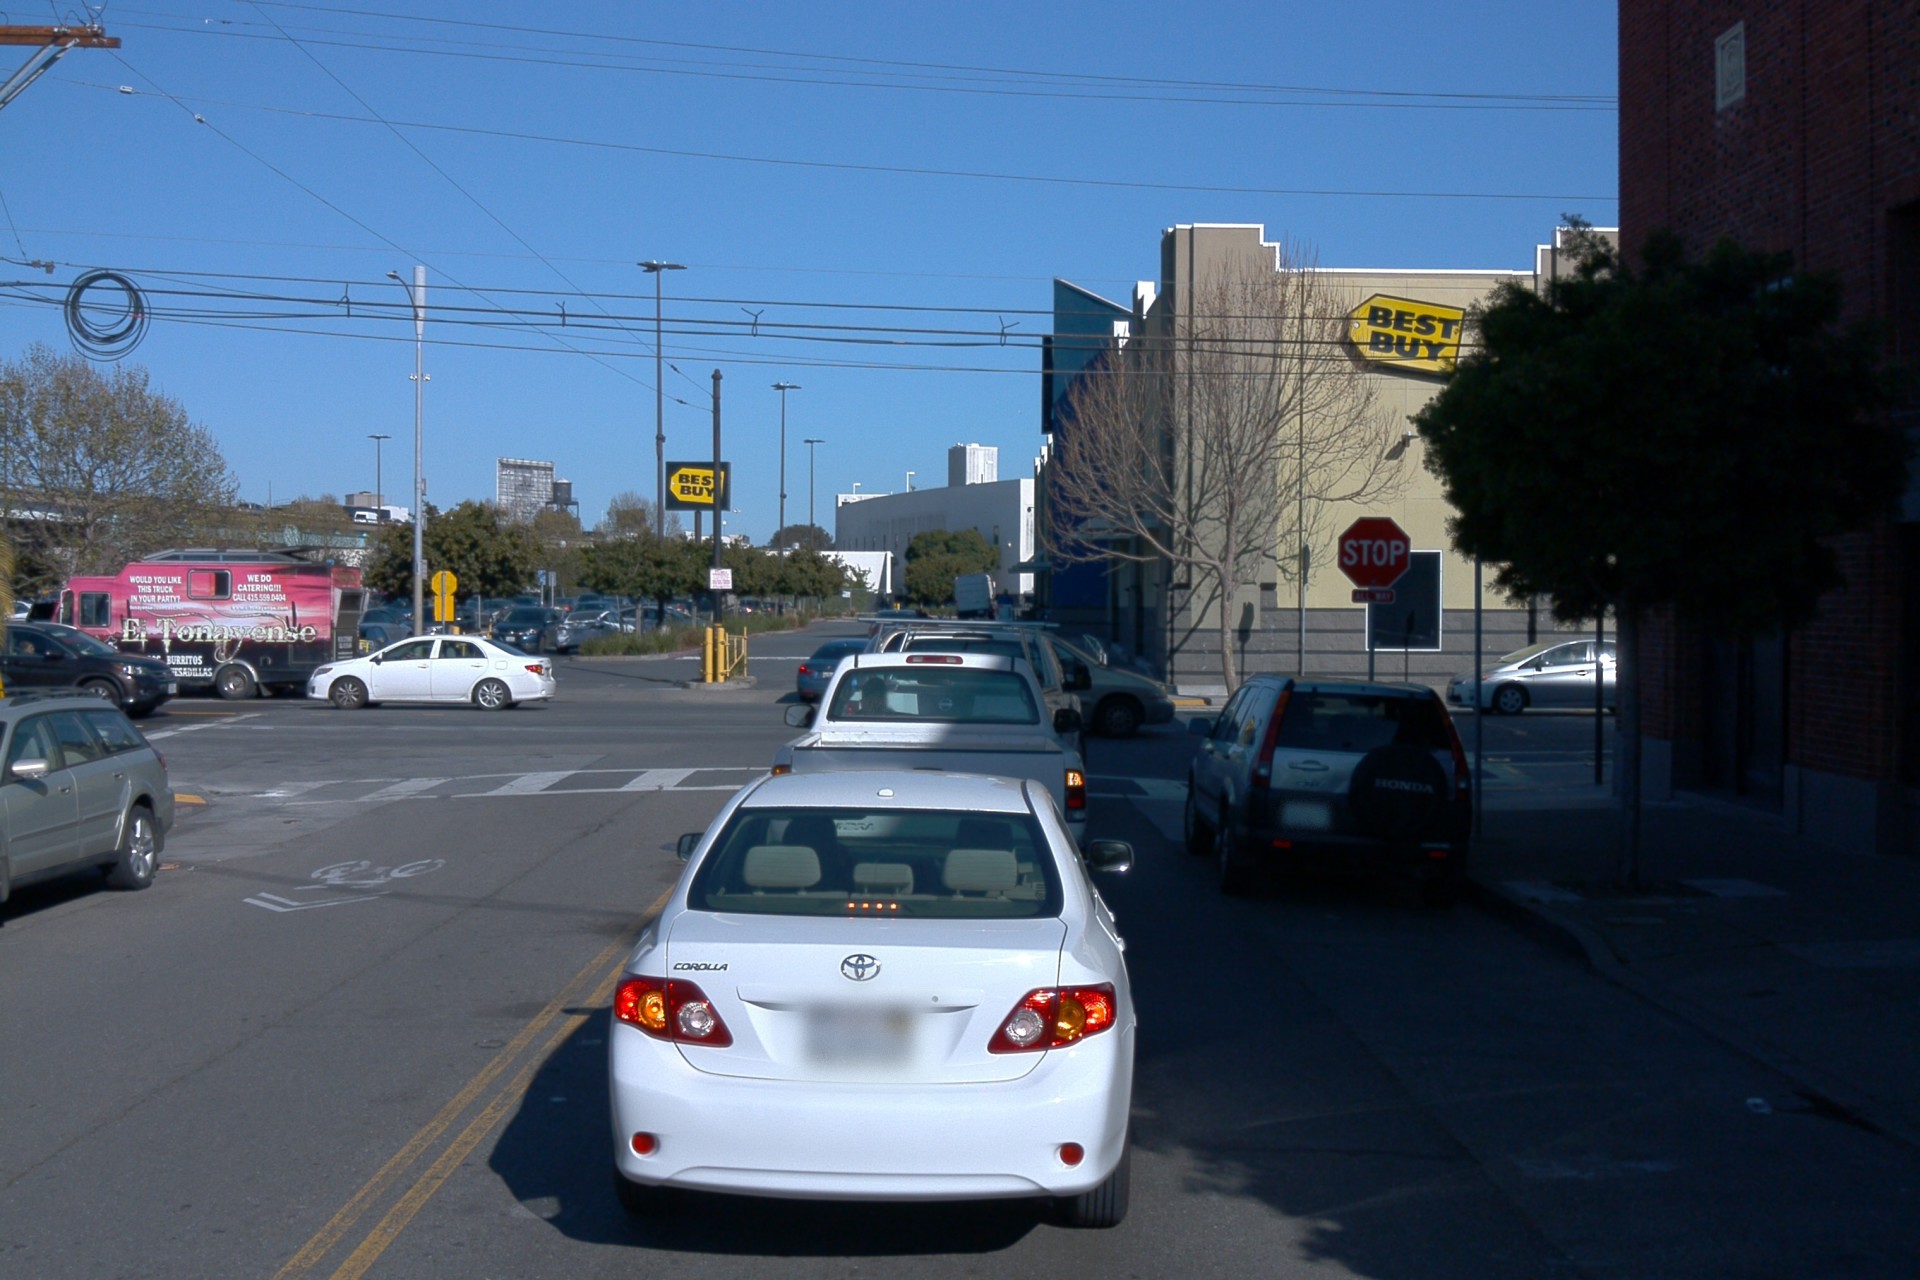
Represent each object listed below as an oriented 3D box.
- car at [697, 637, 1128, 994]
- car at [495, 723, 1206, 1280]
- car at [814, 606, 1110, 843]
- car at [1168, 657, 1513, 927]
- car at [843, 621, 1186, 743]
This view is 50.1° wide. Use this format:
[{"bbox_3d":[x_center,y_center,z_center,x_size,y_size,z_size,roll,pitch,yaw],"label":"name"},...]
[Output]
[{"bbox_3d":[-0.246,0.985,14.334,2.386,1.880,5.557,1,1,1],"label":"car"},{"bbox_3d":[-0.276,1.270,8.234,2.045,1.580,4.504,1,1,1],"label":"car"},{"bbox_3d":[0.204,0.737,21.877,2.387,2.140,5.555,1,1,8],"label":"car"},{"bbox_3d":[2.862,1.075,16.450,2.017,1.730,4.285,1,1,1],"label":"car"},{"bbox_3d":[0.798,0.646,32.458,5.166,1.770,2.031,1,1,-5],"label":"car"}]
